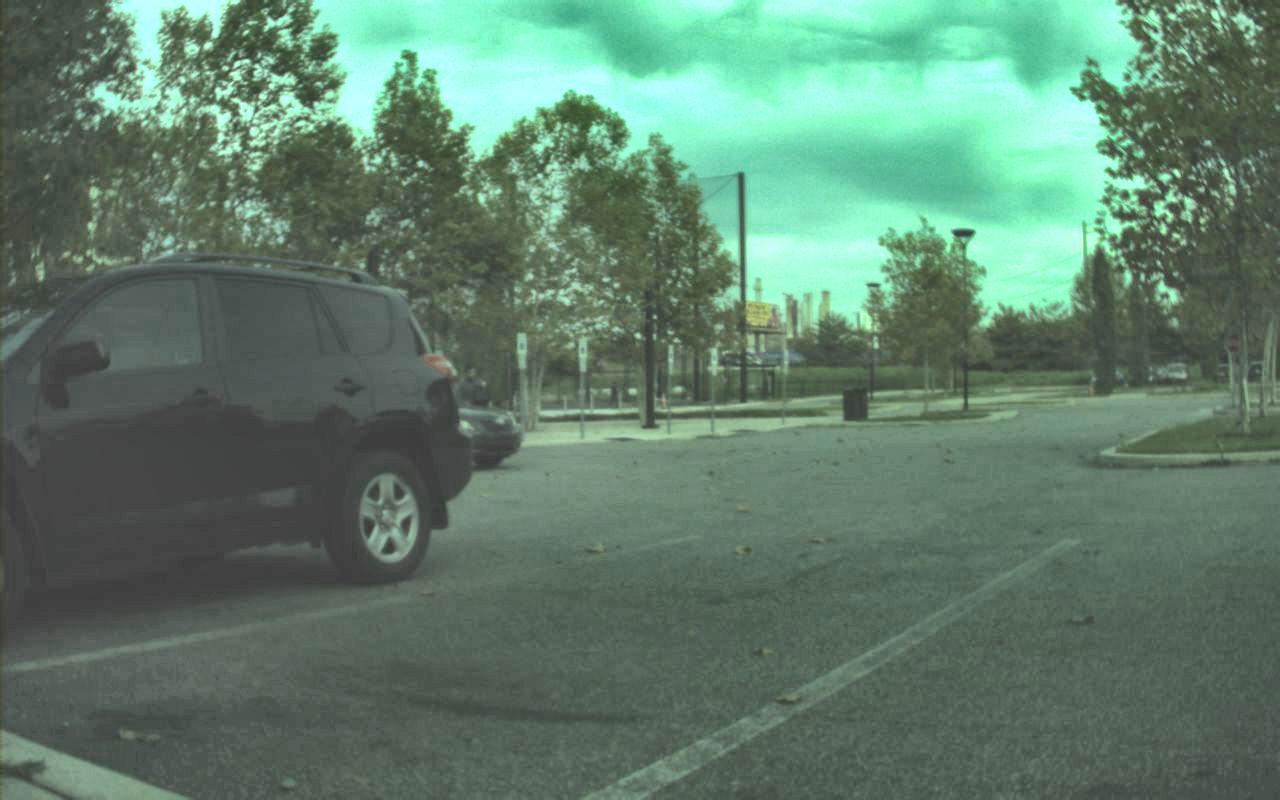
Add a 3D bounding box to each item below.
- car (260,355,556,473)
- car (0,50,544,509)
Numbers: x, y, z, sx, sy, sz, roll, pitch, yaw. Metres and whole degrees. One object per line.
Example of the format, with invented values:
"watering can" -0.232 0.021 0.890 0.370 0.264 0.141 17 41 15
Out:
"car" -3.783 0.139 19.545 4.616 1.647 2.041 1 1 33
"car" -2.624 -0.492 6.265 2.005 1.692 4.640 1 1 29
